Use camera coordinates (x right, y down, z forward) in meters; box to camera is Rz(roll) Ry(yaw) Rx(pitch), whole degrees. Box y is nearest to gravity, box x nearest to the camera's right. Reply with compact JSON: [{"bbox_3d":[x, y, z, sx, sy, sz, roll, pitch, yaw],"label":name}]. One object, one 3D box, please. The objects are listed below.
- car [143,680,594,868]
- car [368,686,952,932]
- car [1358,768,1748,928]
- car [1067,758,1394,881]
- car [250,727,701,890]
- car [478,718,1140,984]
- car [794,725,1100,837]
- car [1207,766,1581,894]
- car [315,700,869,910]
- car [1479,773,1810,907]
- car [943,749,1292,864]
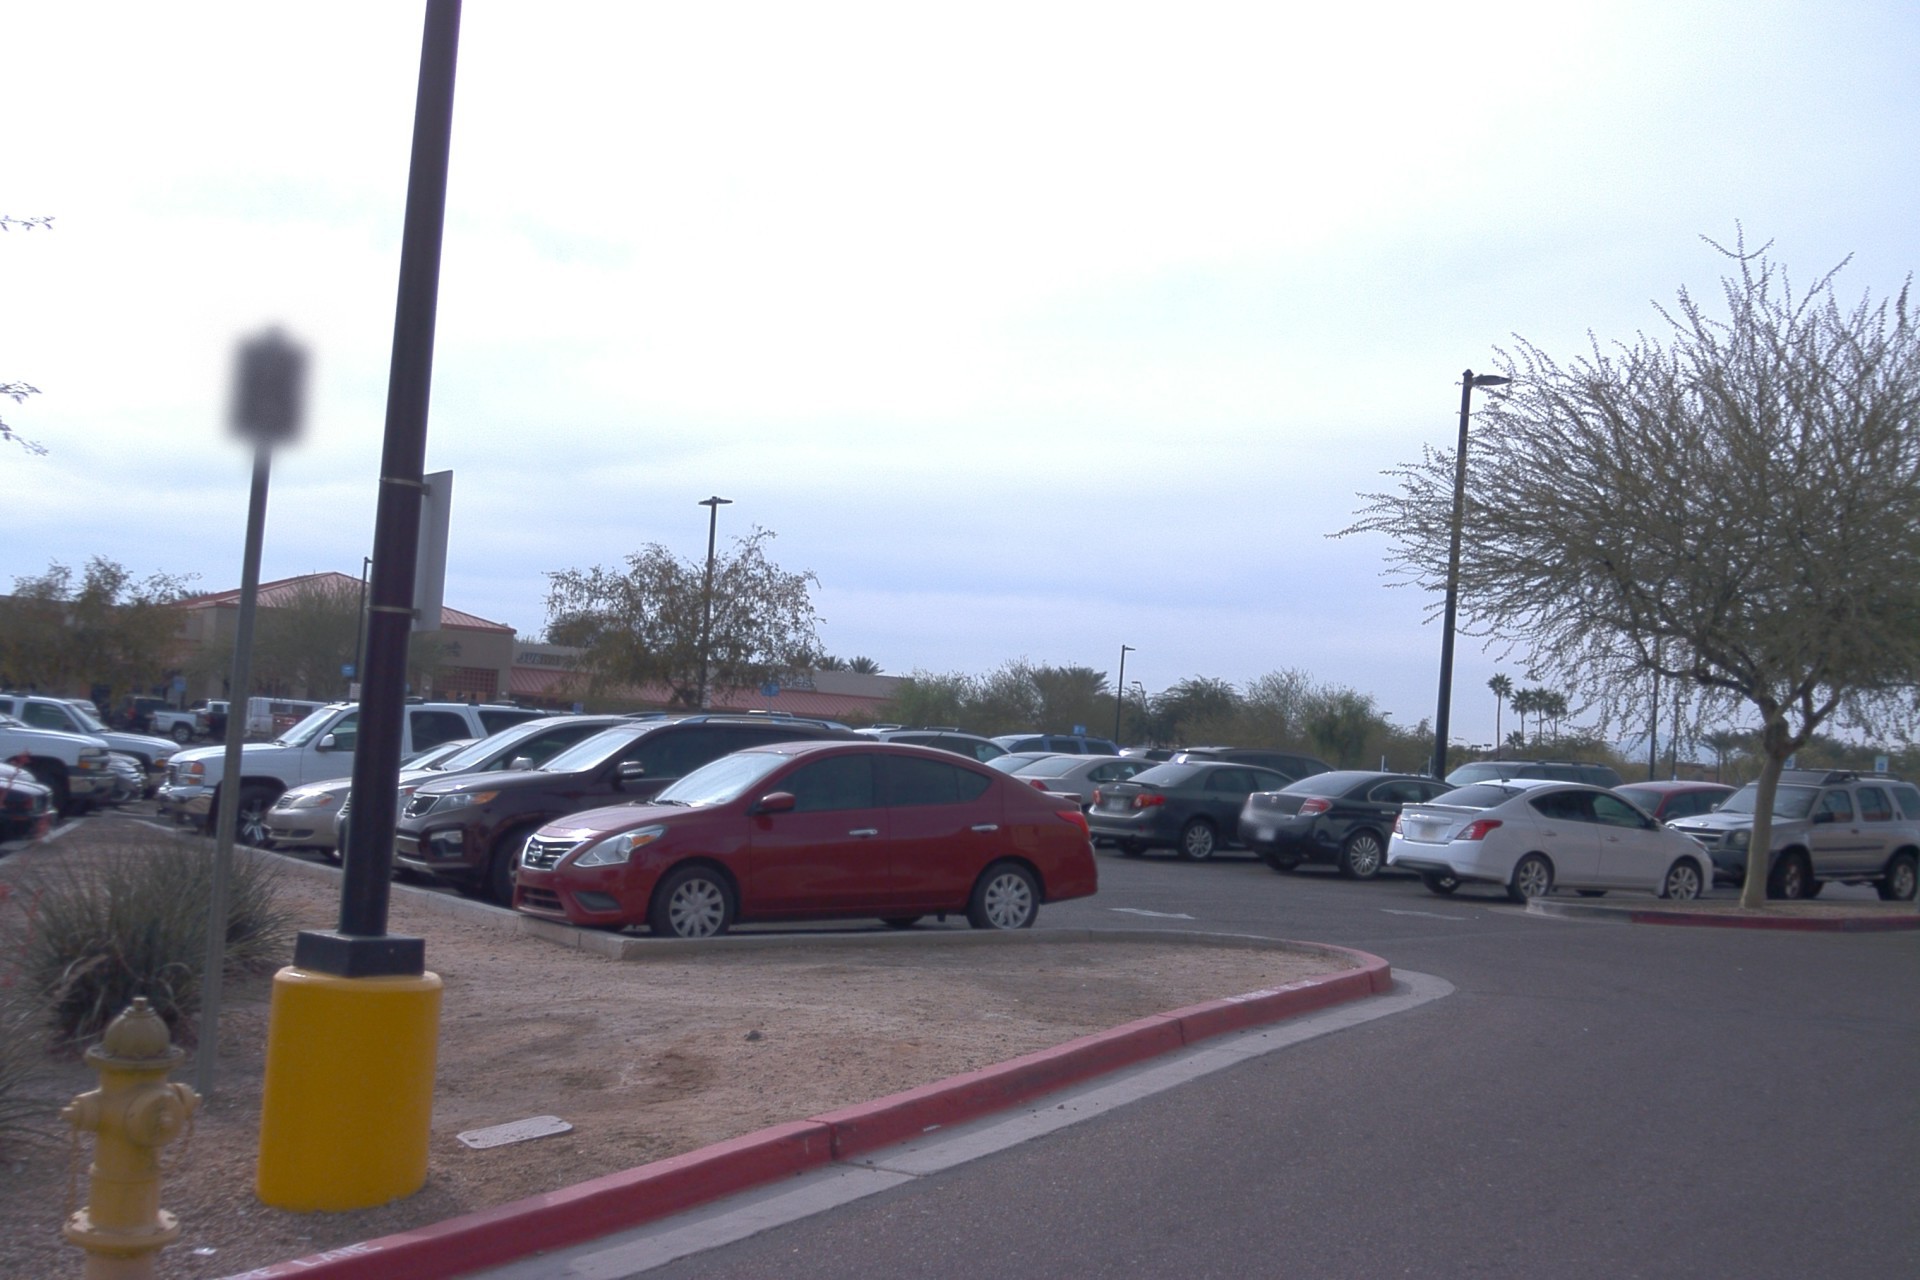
[{"bbox_3d":[-7.334,1.594,25.773,4.960,2.090,2.380,1,-1,-28],"label":"car"},{"bbox_3d":[-2.690,1.436,18.924,4.722,1.930,2.279,2,-1,-33],"label":"car"},{"bbox_3d":[7.439,2.517,25.953,4.545,1.680,2.162,2,-1,-31],"label":"car"},{"bbox_3d":[4.064,2.616,30.991,4.541,1.580,2.092,2,-1,-32],"label":"car"},{"bbox_3d":[-5.463,1.839,23.464,4.583,1.610,2.030,1,-1,-27],"label":"car"},{"bbox_3d":[-1.068,1.467,15.699,4.601,1.680,1.959,2,-1,-34],"label":"car"},{"bbox_3d":[-0.202,2.560,38.650,5.249,1.850,2.386,2,-1,-35],"label":"car"},{"bbox_3d":[6.061,2.577,28.850,4.909,1.500,2.132,2,-1,-30],"label":"car"},{"bbox_3d":[-3.738,1.598,21.223,5.120,1.870,2.259,1,-1,-27],"label":"car"},{"bbox_3d":[10.396,2.962,31.471,4.571,1.700,2.375,2,-1,-32],"label":"car"},{"bbox_3d":[2.582,2.624,33.469,5.256,1.580,2.342,2,-1,-33],"label":"car"}]
